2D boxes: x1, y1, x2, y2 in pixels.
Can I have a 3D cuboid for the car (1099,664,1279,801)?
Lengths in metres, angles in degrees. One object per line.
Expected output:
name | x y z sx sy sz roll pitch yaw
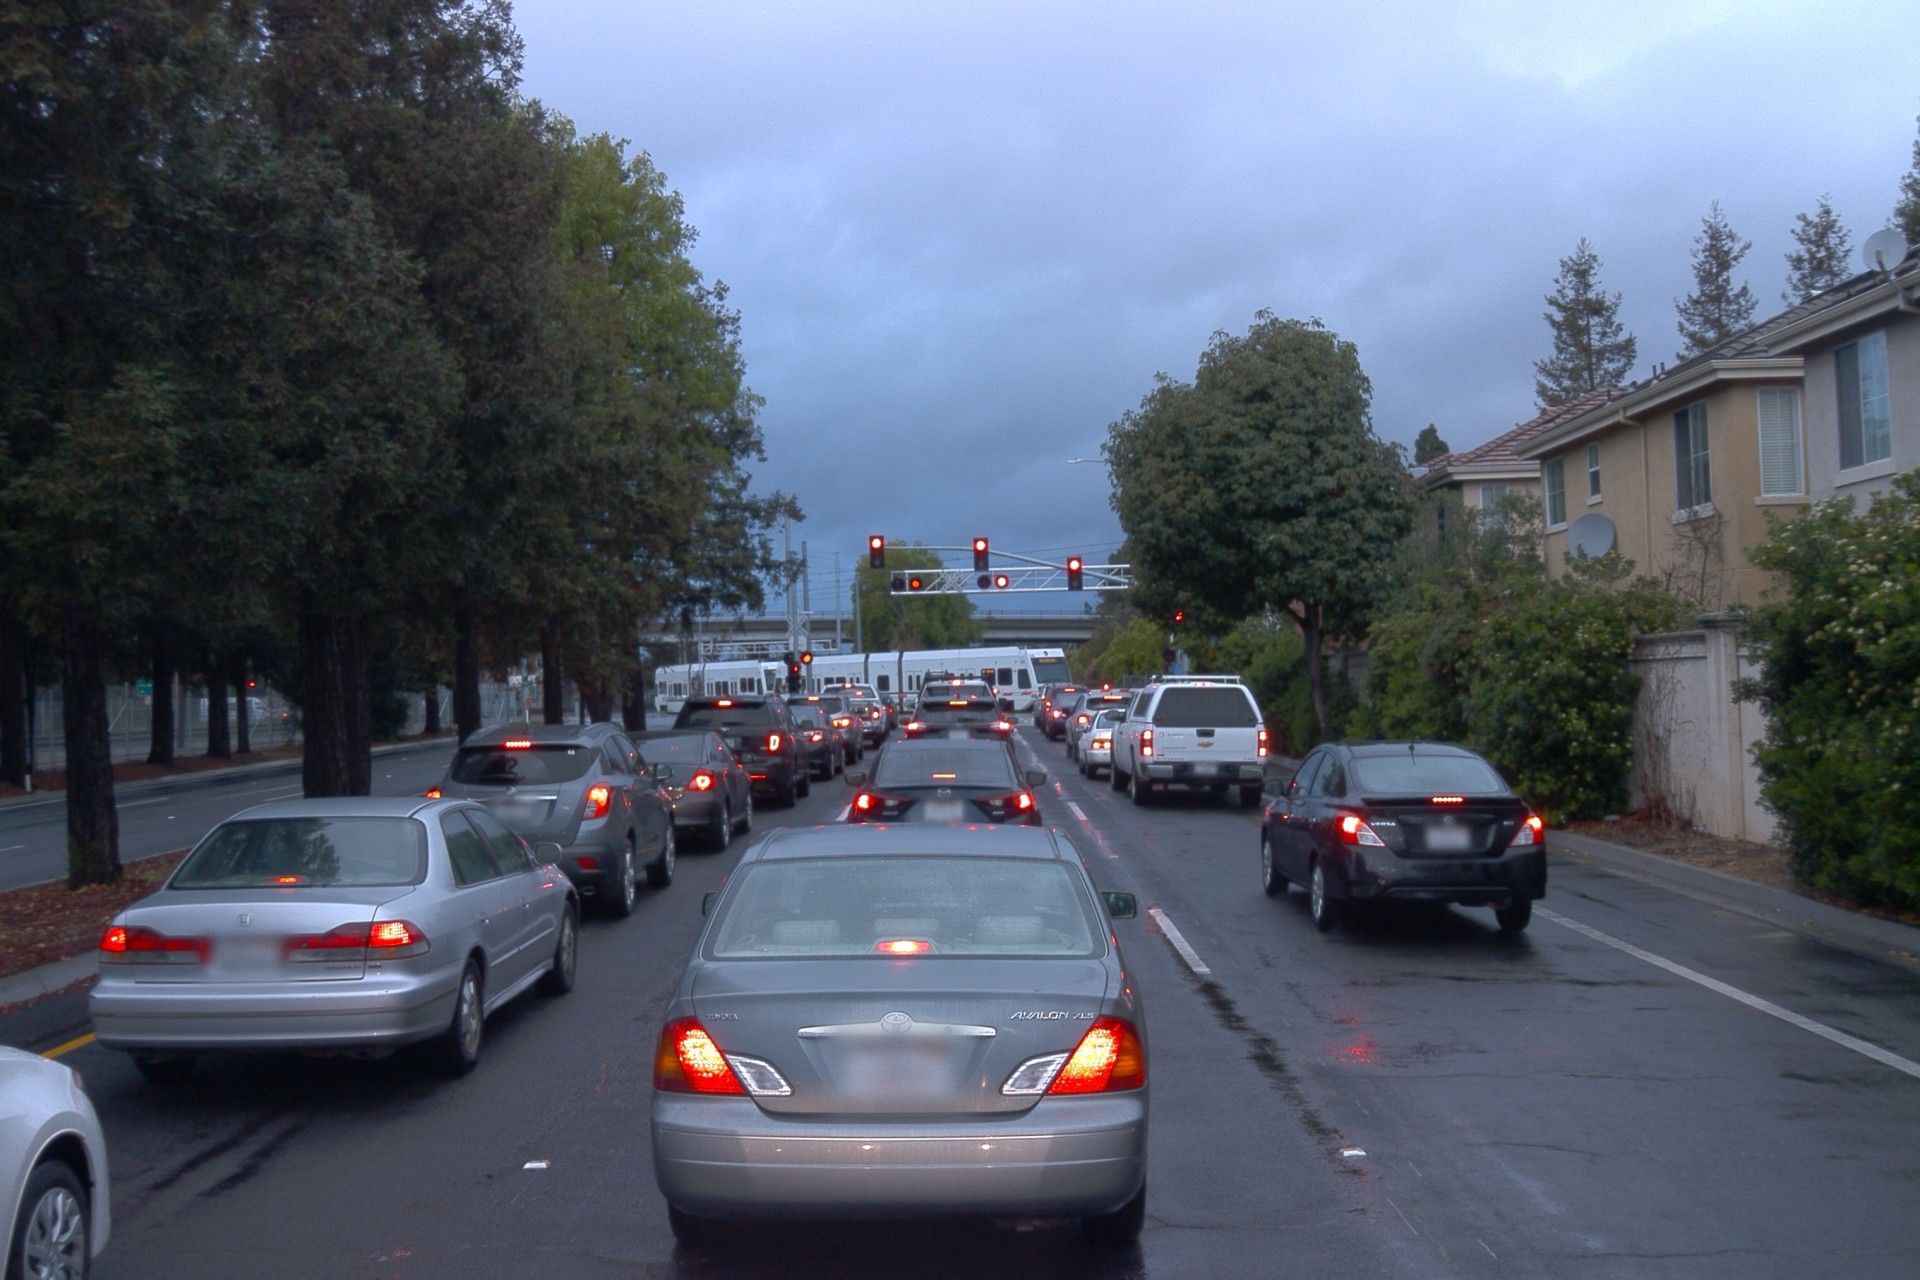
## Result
car | 3.624 1.433 34.023 2.216 2.050 5.937 0 -1 -1

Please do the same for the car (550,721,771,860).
car | -3.597 1.792 25.772 2.021 1.460 4.541 0 -1 1

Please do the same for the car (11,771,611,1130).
car | -3.471 1.618 12.135 2.021 1.480 4.541 0 -1 1

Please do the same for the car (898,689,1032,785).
car | 0.038 1.669 36.842 2.231 1.560 4.585 0 -1 -1

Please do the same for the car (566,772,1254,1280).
car | -0.184 1.440 8.704 2.105 1.550 4.676 0 -1 -1

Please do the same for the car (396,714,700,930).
car | -3.661 1.577 19.174 1.936 1.700 4.080 0 -1 1

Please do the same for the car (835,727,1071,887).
car | -0.119 1.565 20.585 2.081 1.290 4.552 0 -1 -1

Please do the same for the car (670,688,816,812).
car | -3.399 1.697 33.269 2.021 1.810 4.543 0 -1 -2

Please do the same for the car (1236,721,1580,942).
car | 3.667 1.529 17.832 2.004 1.550 4.501 0 -1 0
